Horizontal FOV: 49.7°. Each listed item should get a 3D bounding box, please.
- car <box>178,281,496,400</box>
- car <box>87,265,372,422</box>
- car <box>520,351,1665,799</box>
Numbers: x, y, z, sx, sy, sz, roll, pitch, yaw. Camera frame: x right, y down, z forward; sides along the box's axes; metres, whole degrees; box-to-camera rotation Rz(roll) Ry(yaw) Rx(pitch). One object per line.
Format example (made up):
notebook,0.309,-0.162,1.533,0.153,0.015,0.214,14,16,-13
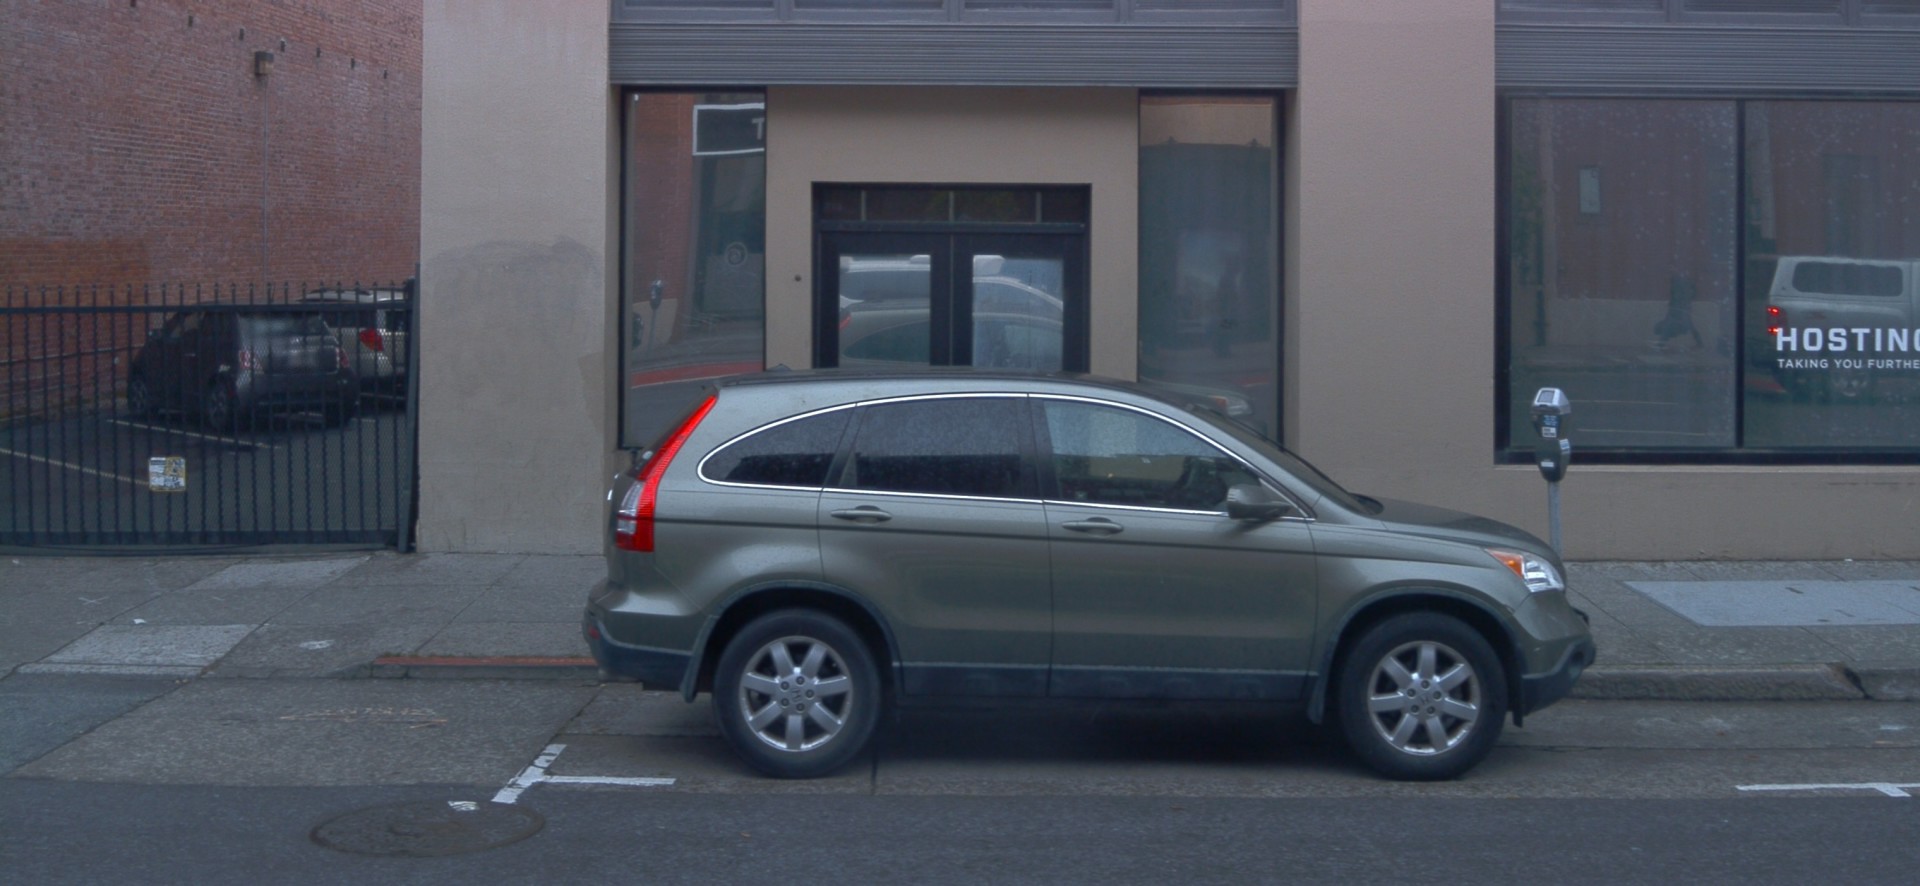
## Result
car,-8.667,-1.480,28.655,4.644,1.395,1.983,5,6,40
car,-8.904,-1.284,25.150,3.694,1.676,1.797,5,6,44
car,0.541,0.490,9.363,4.625,1.677,1.958,0,3,0
